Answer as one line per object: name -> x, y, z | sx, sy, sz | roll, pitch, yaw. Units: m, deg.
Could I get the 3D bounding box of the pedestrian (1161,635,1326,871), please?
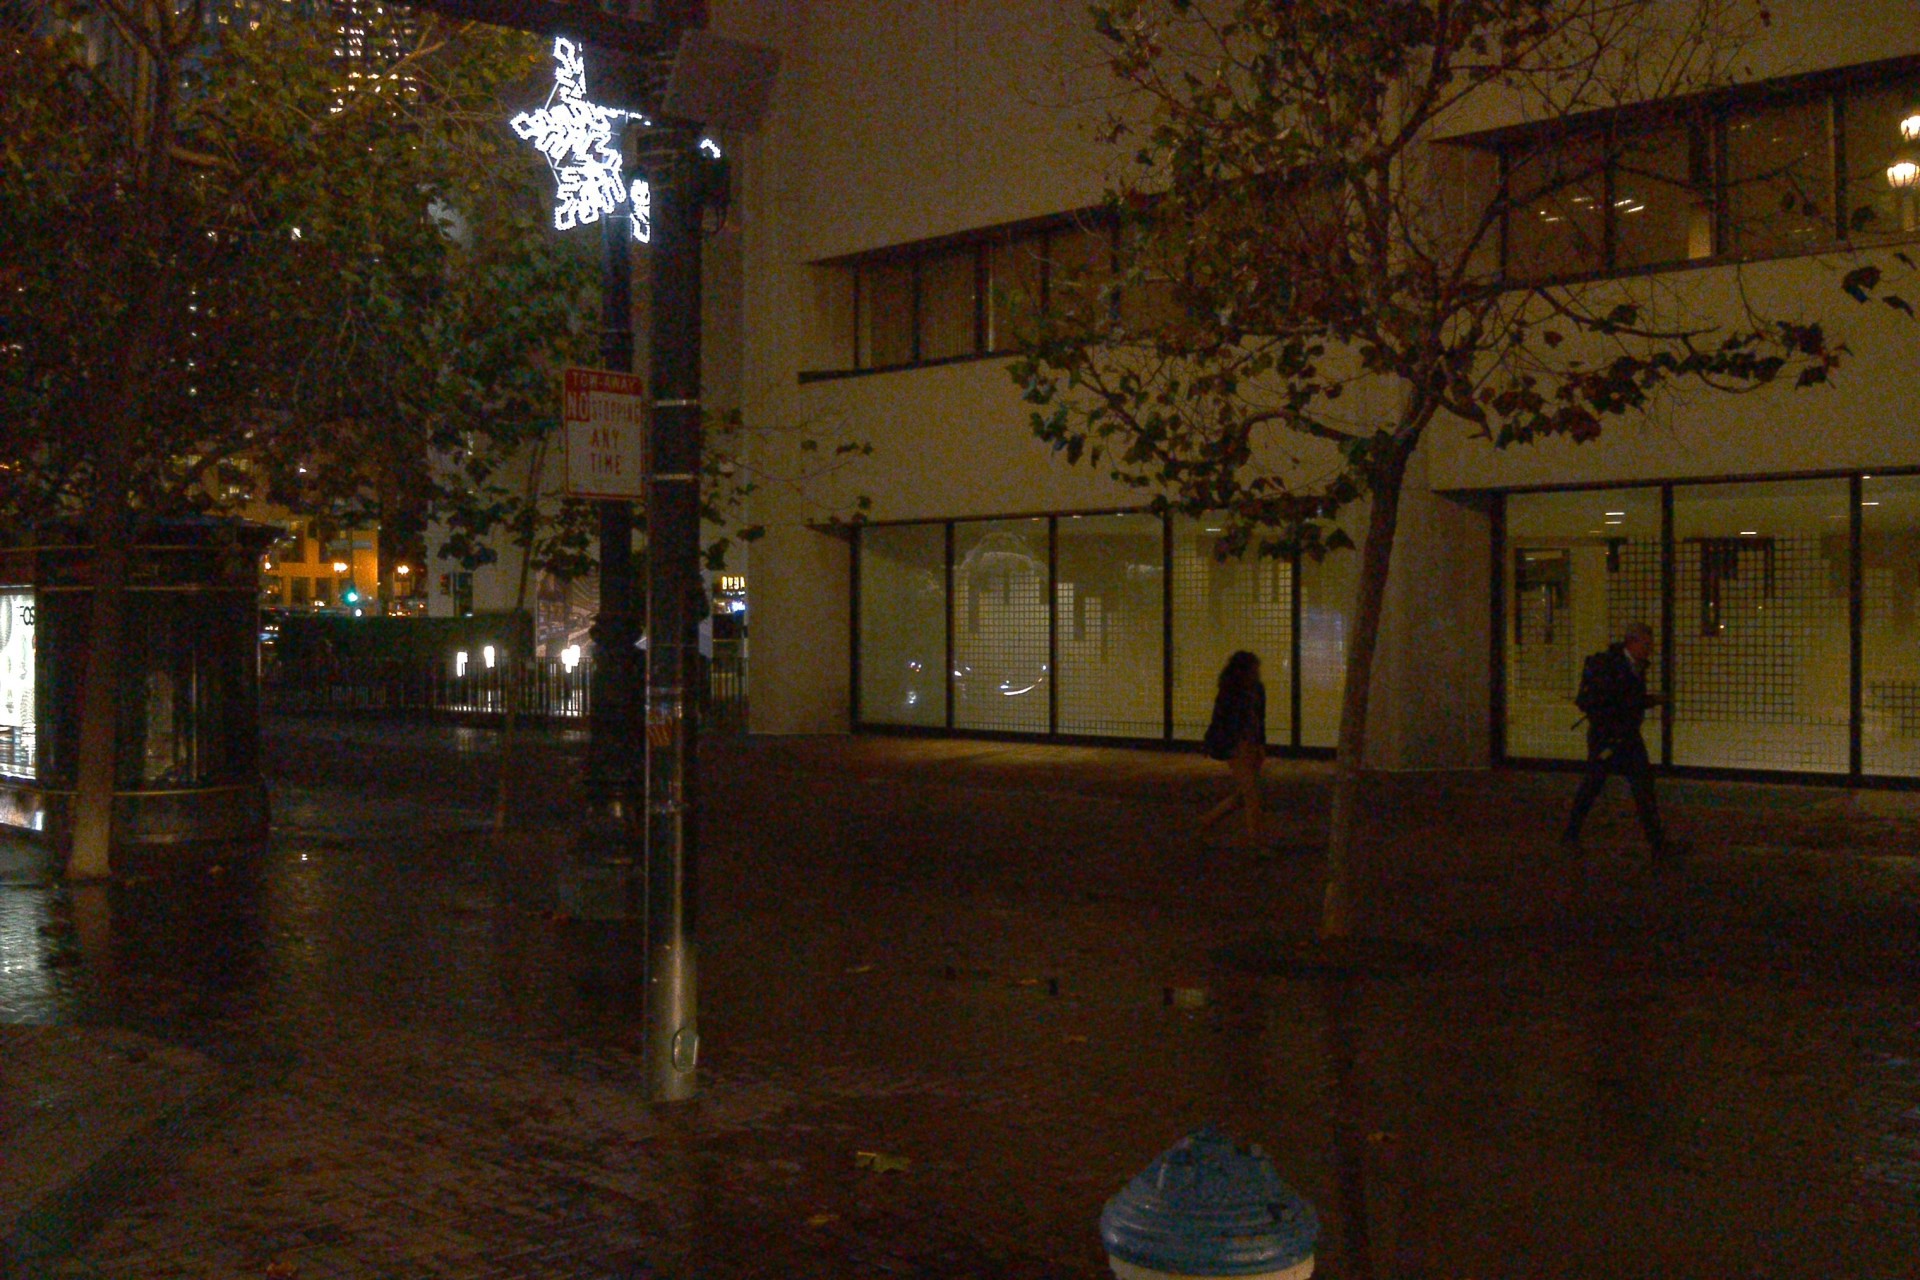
pedestrian -> 2.233, 0.858, 16.153 | 1.050, 1.780, 0.729 | 0, 0, 44

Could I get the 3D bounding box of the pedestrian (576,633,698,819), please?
pedestrian -> -3.204, 0.829, 20.295 | 0.860, 1.780, 1.103 | 1, 0, -28

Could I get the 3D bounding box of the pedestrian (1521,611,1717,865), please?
pedestrian -> 4.968, 0.709, 15.468 | 0.841, 1.830, 1.114 | 1, 0, -37
